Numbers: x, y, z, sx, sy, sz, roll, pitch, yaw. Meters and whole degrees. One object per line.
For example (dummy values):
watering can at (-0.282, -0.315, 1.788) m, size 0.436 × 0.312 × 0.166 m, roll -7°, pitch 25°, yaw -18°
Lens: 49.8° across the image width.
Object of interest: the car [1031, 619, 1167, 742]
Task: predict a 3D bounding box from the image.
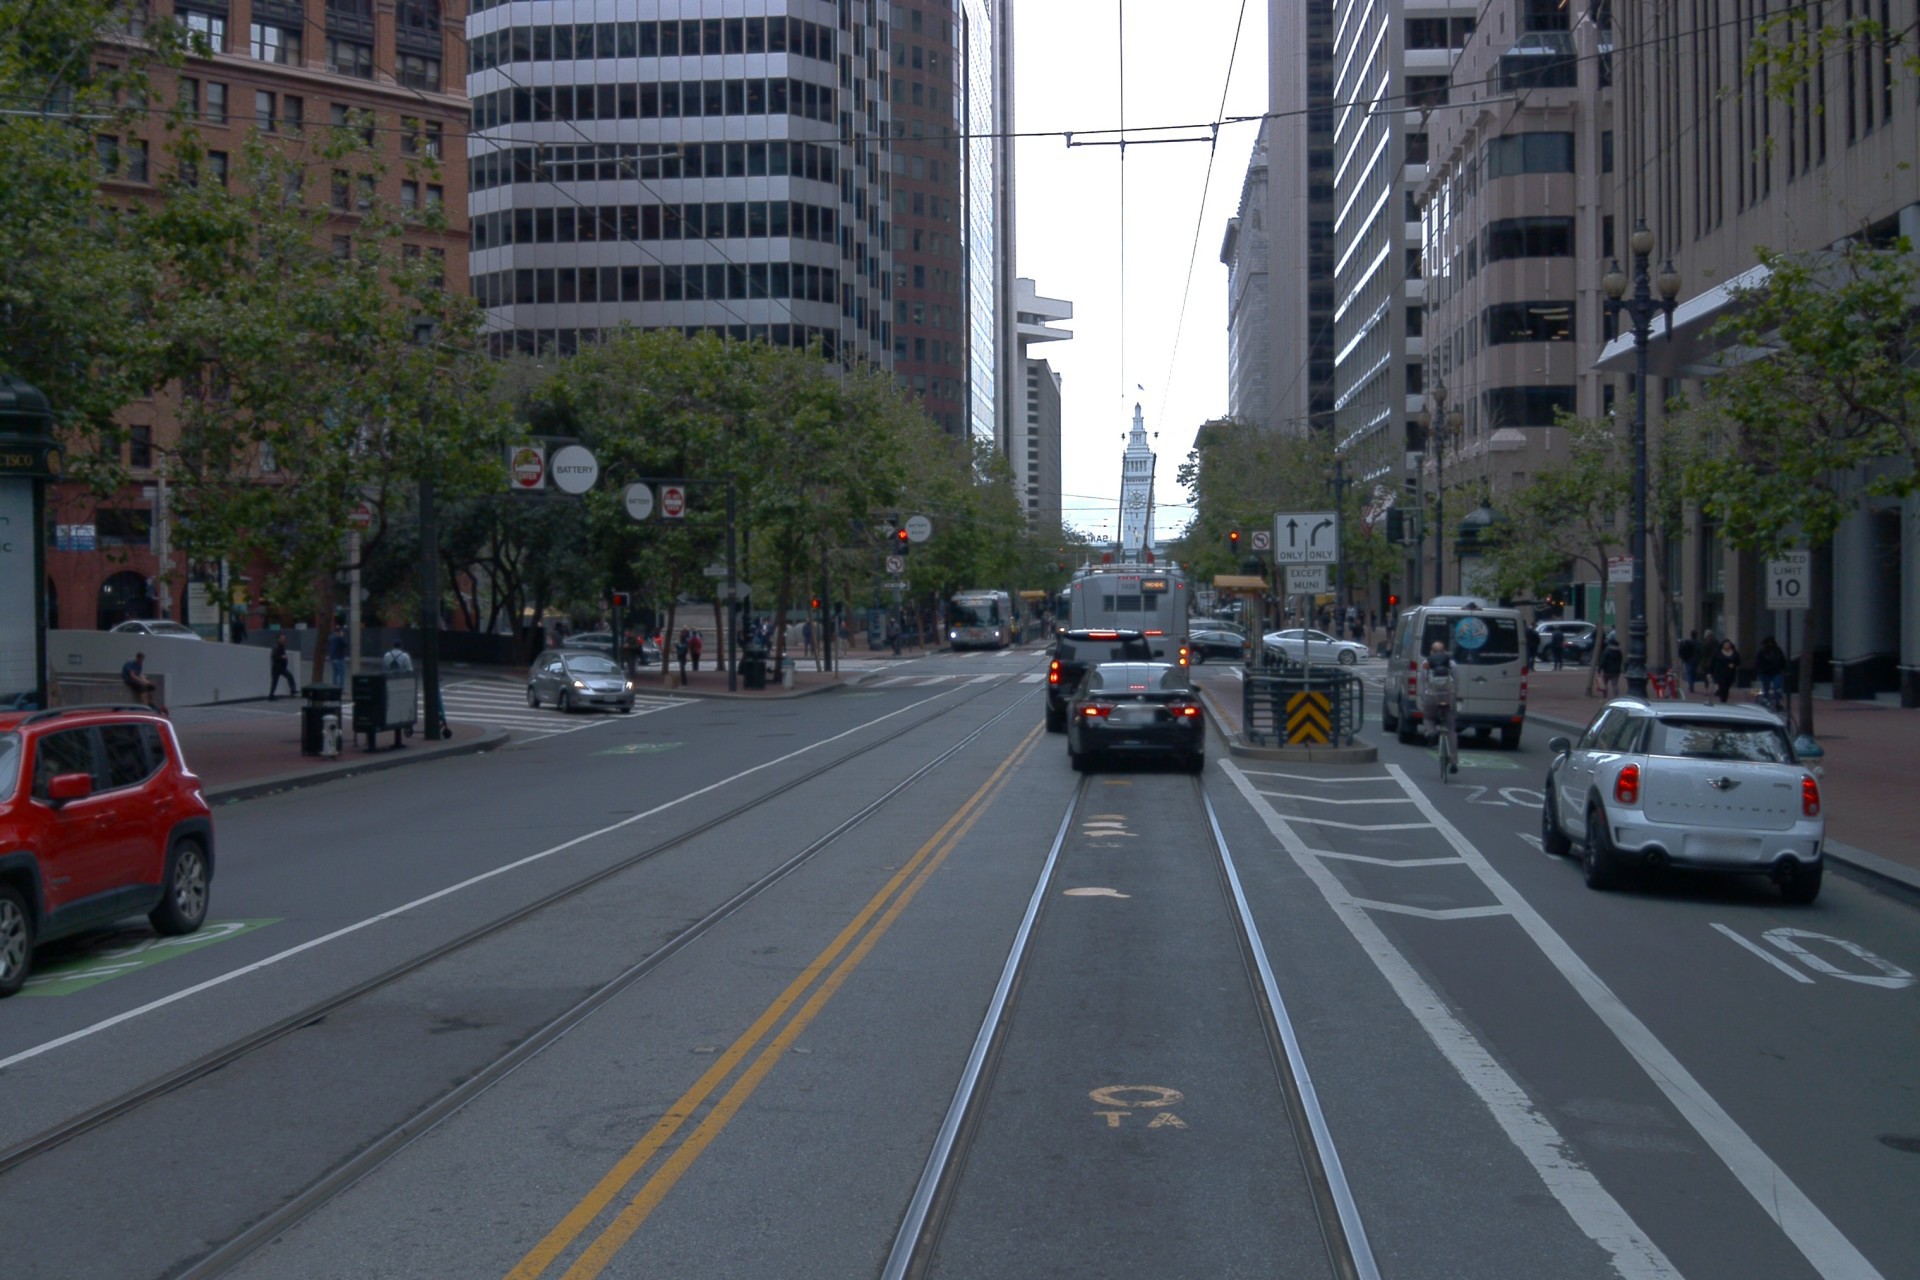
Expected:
car at (2.627, 0.671, 38.083) m, size 2.308 × 2.100 × 5.441 m, roll 0°, pitch 1°, yaw 5°

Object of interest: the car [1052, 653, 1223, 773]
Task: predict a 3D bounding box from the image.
car at (2.417, 0.968, 29.239) m, size 2.188 × 1.460 × 4.686 m, roll 0°, pitch 1°, yaw 2°

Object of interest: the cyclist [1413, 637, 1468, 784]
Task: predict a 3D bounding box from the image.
cyclist at (6.454, 0.924, 27.794) m, size 0.638 × 1.900 × 1.438 m, roll 0°, pitch 1°, yaw 10°

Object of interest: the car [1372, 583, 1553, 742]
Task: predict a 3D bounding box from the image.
car at (8.713, 0.342, 36.322) m, size 2.537 × 2.590 × 5.347 m, roll 0°, pitch 1°, yaw 8°

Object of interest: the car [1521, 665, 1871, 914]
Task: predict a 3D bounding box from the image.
car at (6.097, 1.155, 17.597) m, size 2.075 × 1.784 × 3.876 m, roll 0°, pitch 1°, yaw 8°
